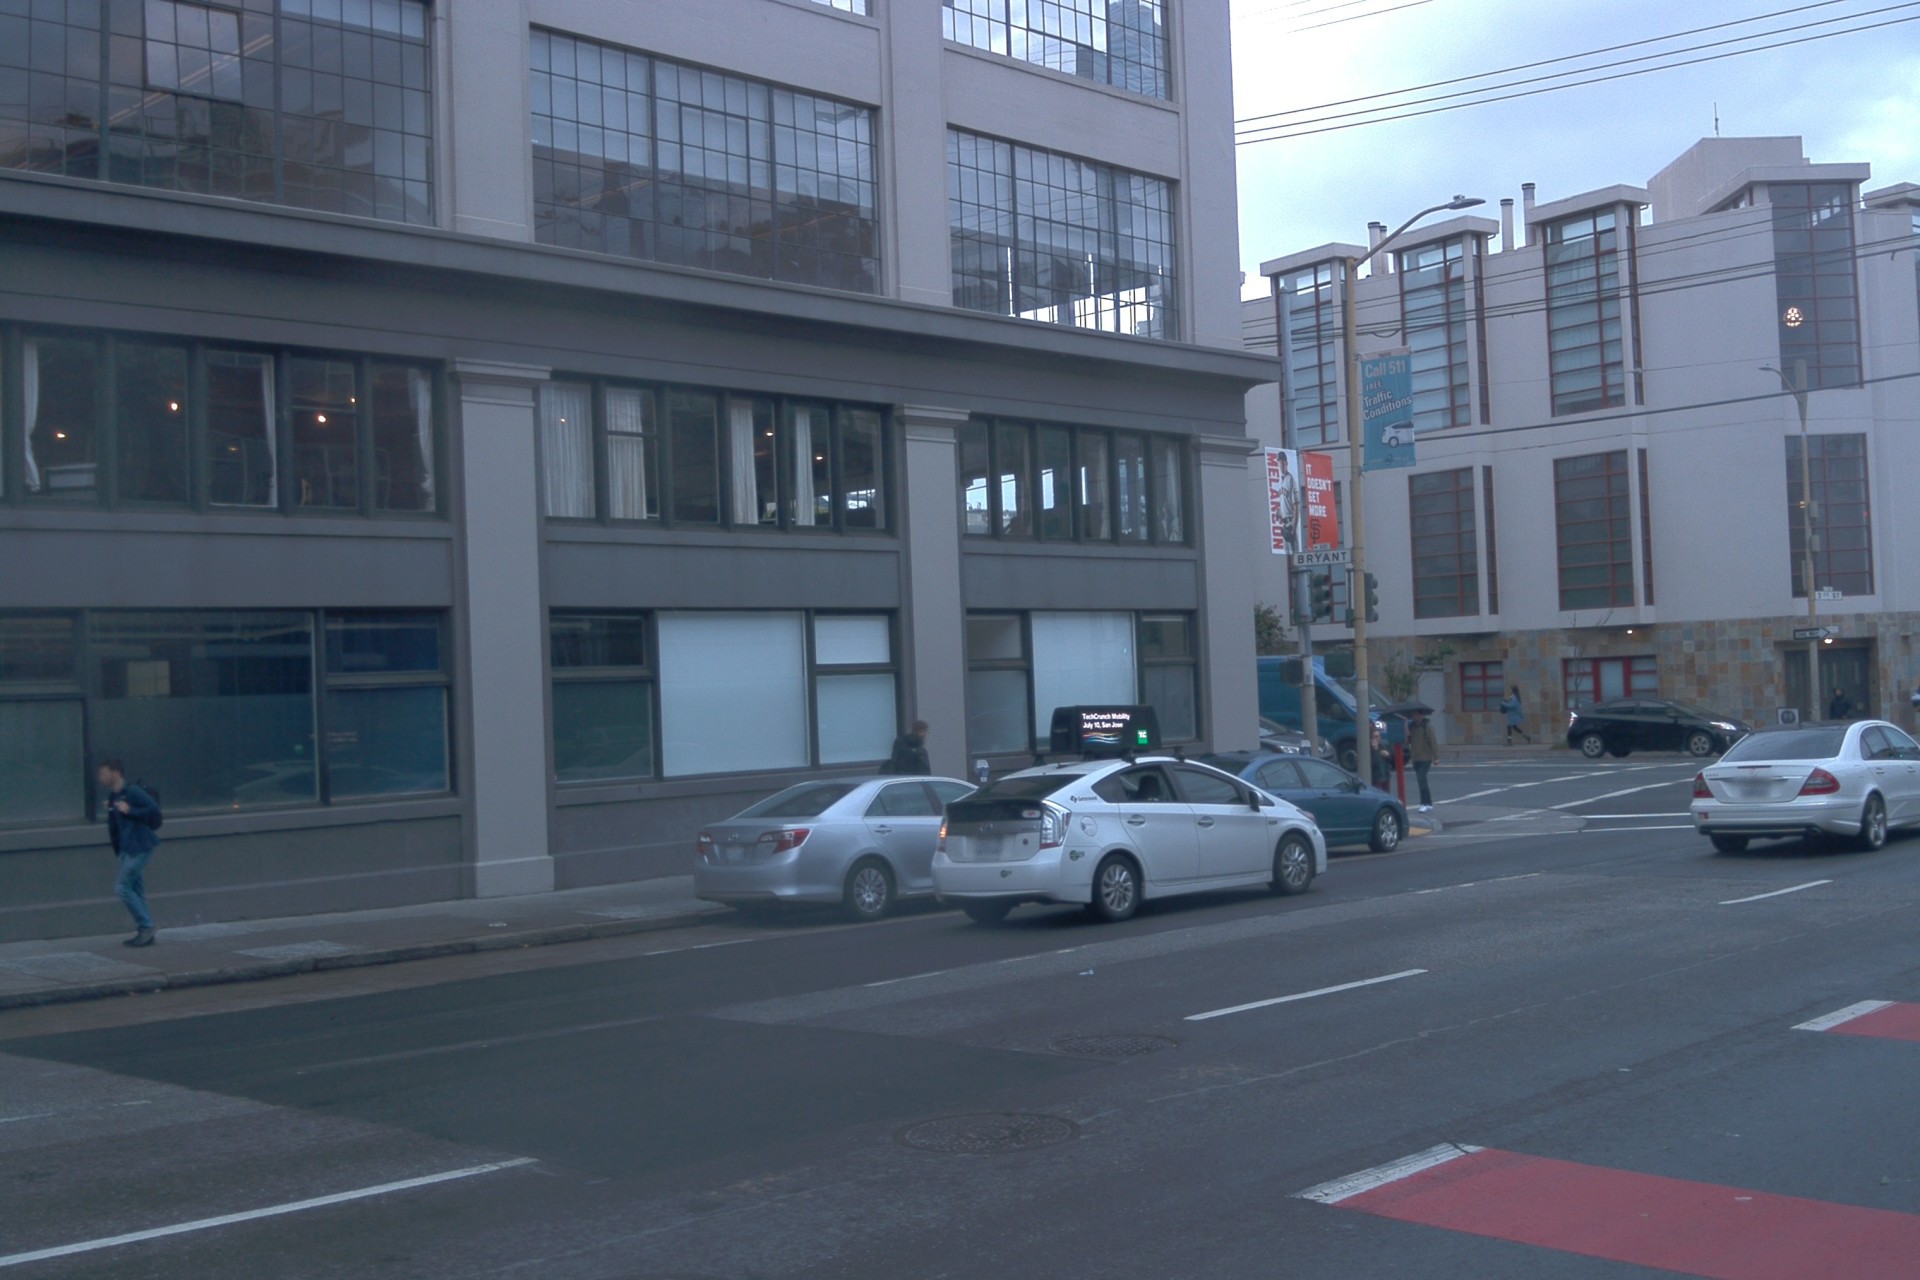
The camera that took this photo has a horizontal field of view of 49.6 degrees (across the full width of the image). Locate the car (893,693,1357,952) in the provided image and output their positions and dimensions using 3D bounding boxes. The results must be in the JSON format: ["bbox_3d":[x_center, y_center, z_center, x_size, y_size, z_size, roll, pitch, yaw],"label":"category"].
[{"bbox_3d":[1.707,1.615,20.115,2.037,2.090,4.605,0,0,43],"label":"car"}]

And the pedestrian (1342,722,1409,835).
[{"bbox_3d":[6.330,2.099,31.705,0.825,1.670,0.591,0,0,-34],"label":"pedestrian"}]

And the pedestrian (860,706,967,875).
[{"bbox_3d":[-0.571,1.828,25.616,0.909,1.990,0.967,0,0,39],"label":"pedestrian"}]

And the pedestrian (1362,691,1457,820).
[{"bbox_3d":[7.699,1.951,35.634,1.132,2.110,1.190,0,0,44],"label":"pedestrian"}]

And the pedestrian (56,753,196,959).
[{"bbox_3d":[-7.676,1.957,19.152,0.960,1.770,0.826,0,0,-43],"label":"pedestrian"}]

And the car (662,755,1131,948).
[{"bbox_3d":[-0.560,2.144,22.236,2.014,1.570,4.989,0,0,45],"label":"car"}]

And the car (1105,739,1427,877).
[{"bbox_3d":[4.047,2.108,27.062,1.913,1.440,4.430,0,0,44],"label":"car"}]
